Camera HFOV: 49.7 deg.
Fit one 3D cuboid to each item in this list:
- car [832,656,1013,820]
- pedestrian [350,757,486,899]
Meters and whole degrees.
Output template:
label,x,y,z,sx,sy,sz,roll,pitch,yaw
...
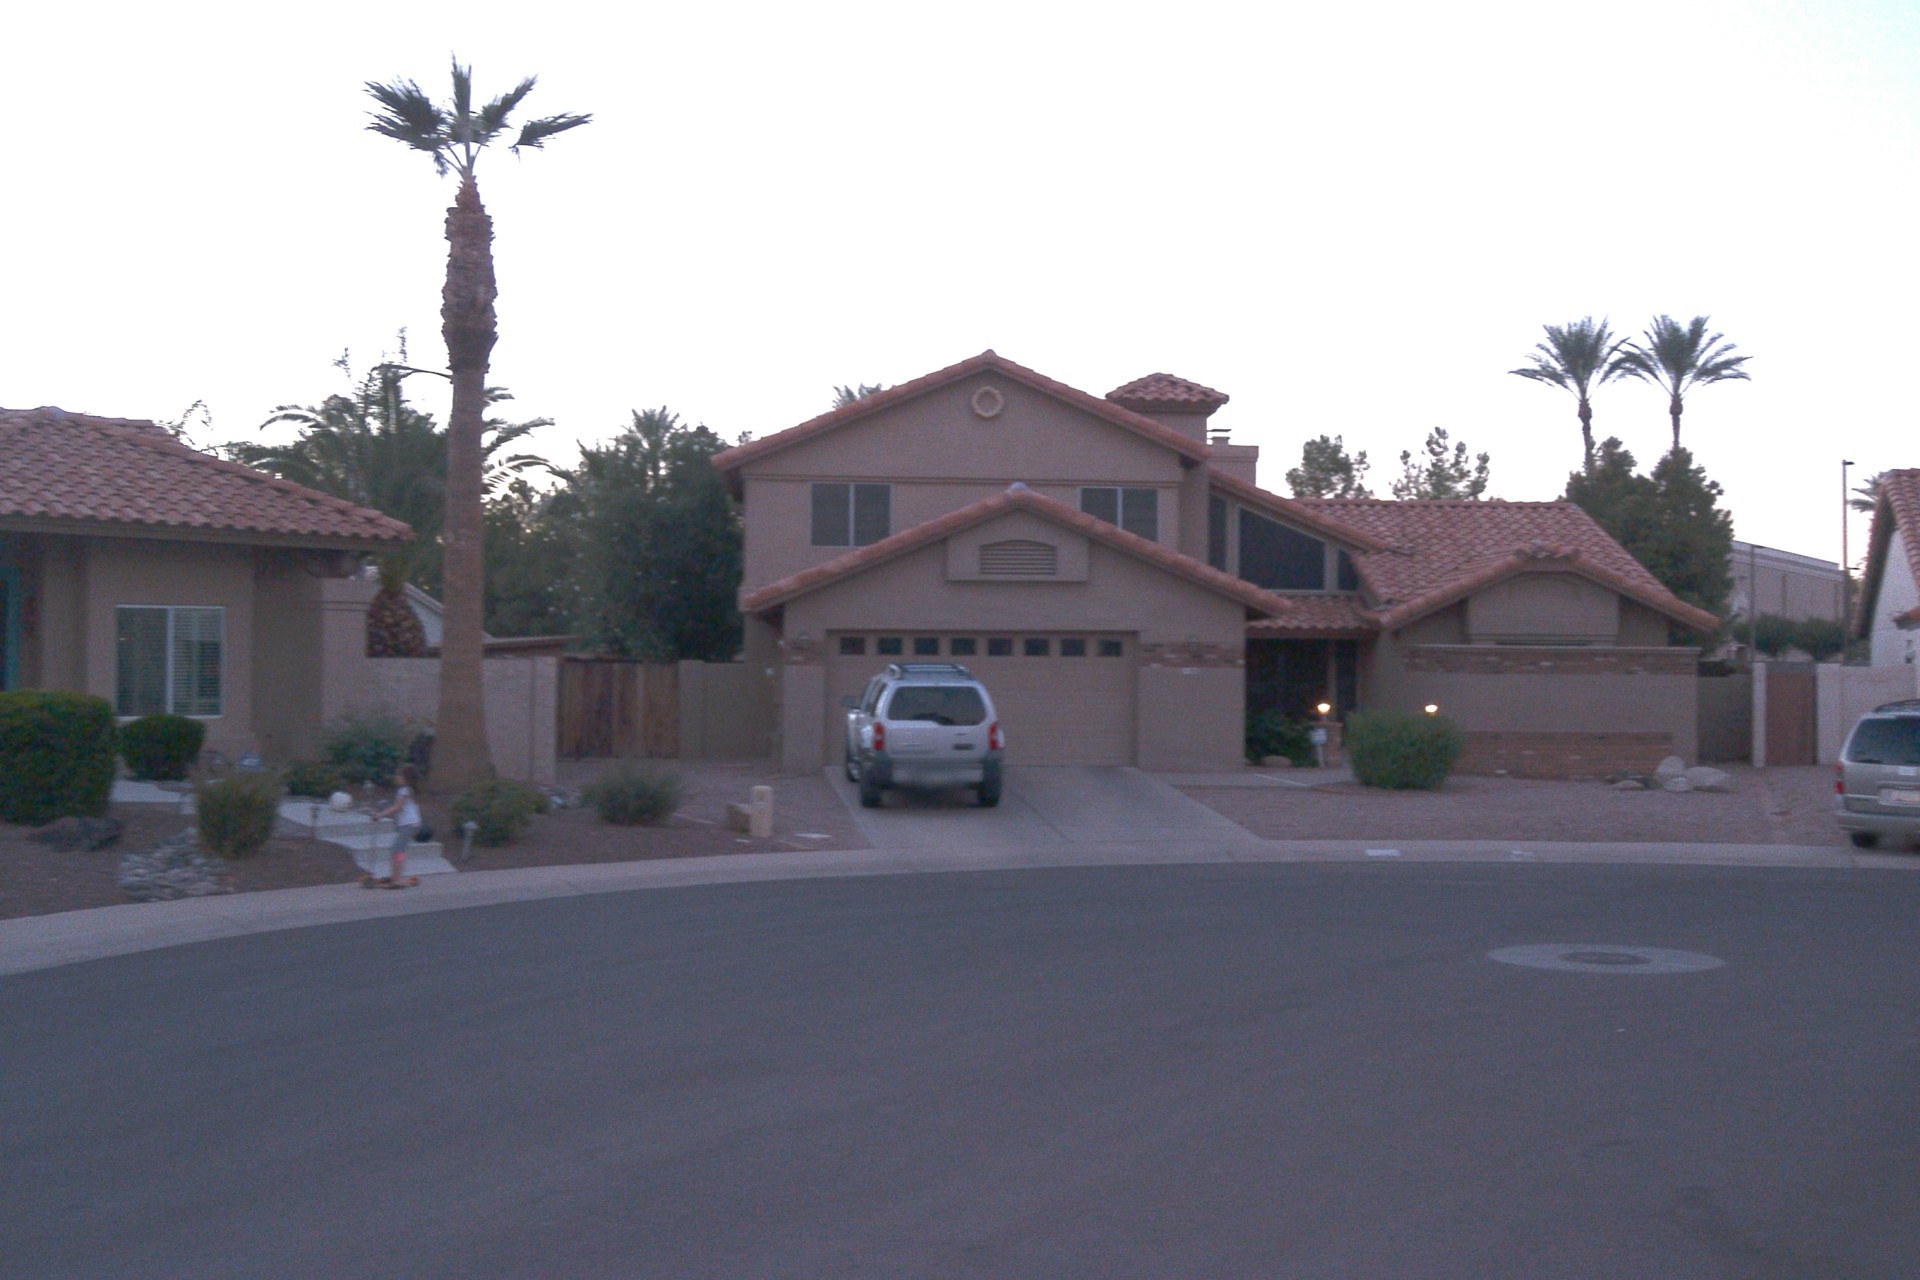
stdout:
label,x,y,z,sx,sy,sz,roll,pitch,yaw
car,-0.621,1.285,29.022,2.112,2.070,4.671,1,-1,-6
pedestrian,-5.128,1.770,19.670,1.089,1.280,0.650,1,-1,-2
